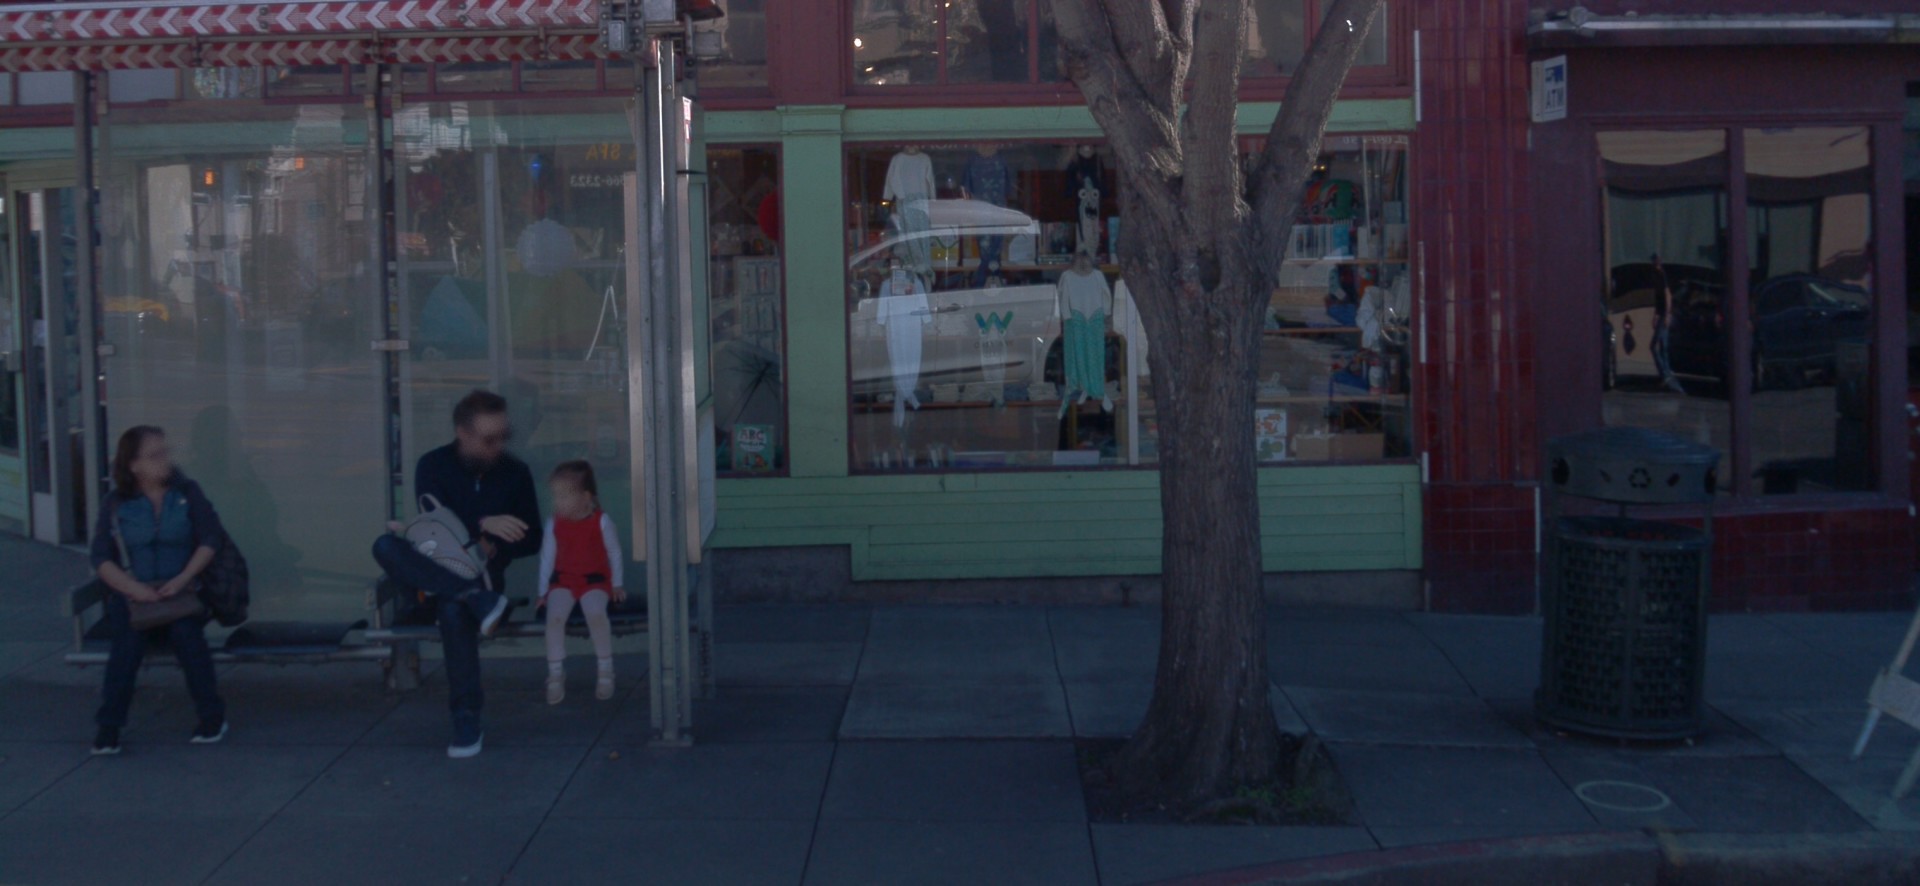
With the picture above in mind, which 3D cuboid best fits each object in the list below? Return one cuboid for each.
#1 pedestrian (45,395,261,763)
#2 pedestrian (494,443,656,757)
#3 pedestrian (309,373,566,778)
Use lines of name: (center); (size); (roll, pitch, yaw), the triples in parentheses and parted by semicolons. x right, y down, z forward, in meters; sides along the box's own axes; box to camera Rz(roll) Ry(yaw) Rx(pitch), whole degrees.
pedestrian: (-3.125, 0.487, 8.060); (0.737, 1.258, 0.794); (-1, 2, -19)
pedestrian: (-1.474, 0.583, 7.971); (0.528, 1.098, 0.572); (0, 2, -3)
pedestrian: (-1.988, 0.466, 7.975); (0.753, 1.398, 0.926); (0, 2, 0)
